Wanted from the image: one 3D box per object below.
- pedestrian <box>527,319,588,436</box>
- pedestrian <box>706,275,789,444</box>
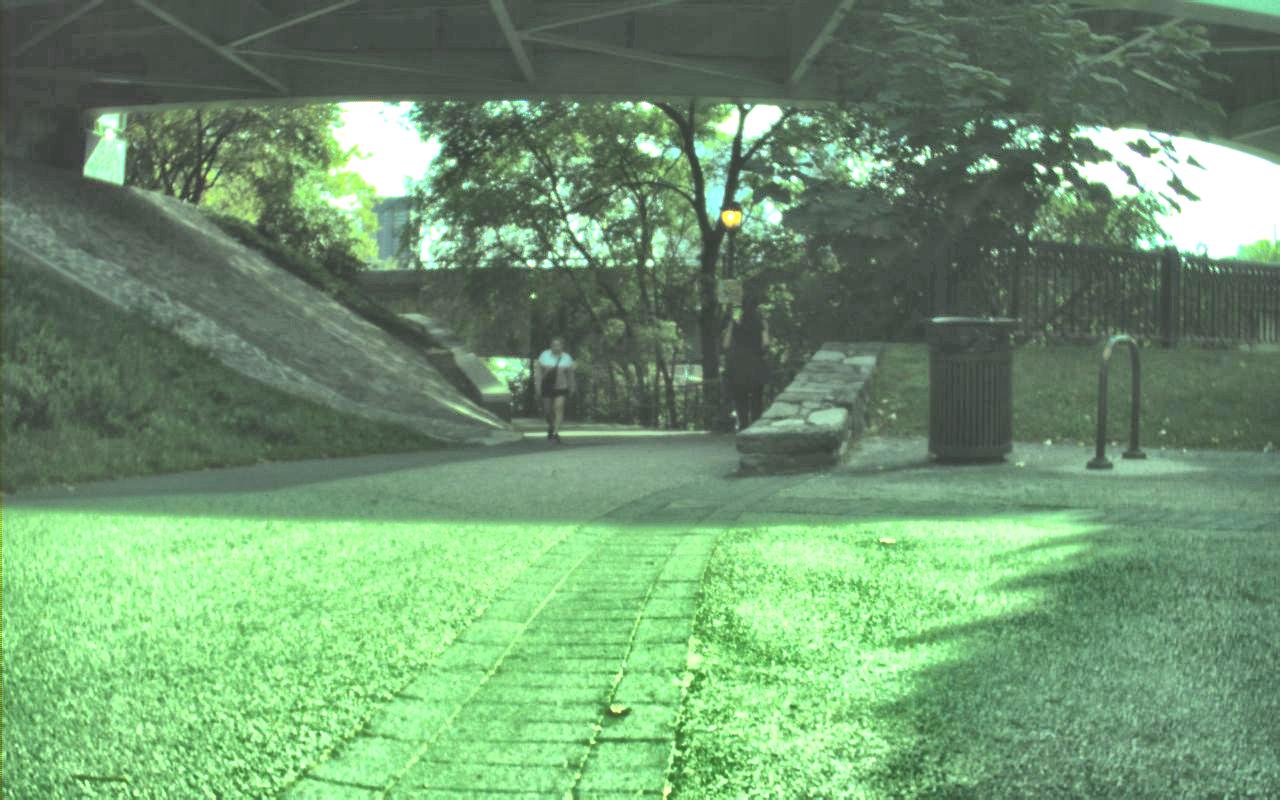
[{"bbox_3d":[-1.228,-0.335,18.549,0.856,1.682,0.890,0,0,-6],"label":"pedestrian"},{"bbox_3d":[1.146,-0.427,13.251,0.790,1.715,0.847,0,0,10],"label":"pedestrian"}]
